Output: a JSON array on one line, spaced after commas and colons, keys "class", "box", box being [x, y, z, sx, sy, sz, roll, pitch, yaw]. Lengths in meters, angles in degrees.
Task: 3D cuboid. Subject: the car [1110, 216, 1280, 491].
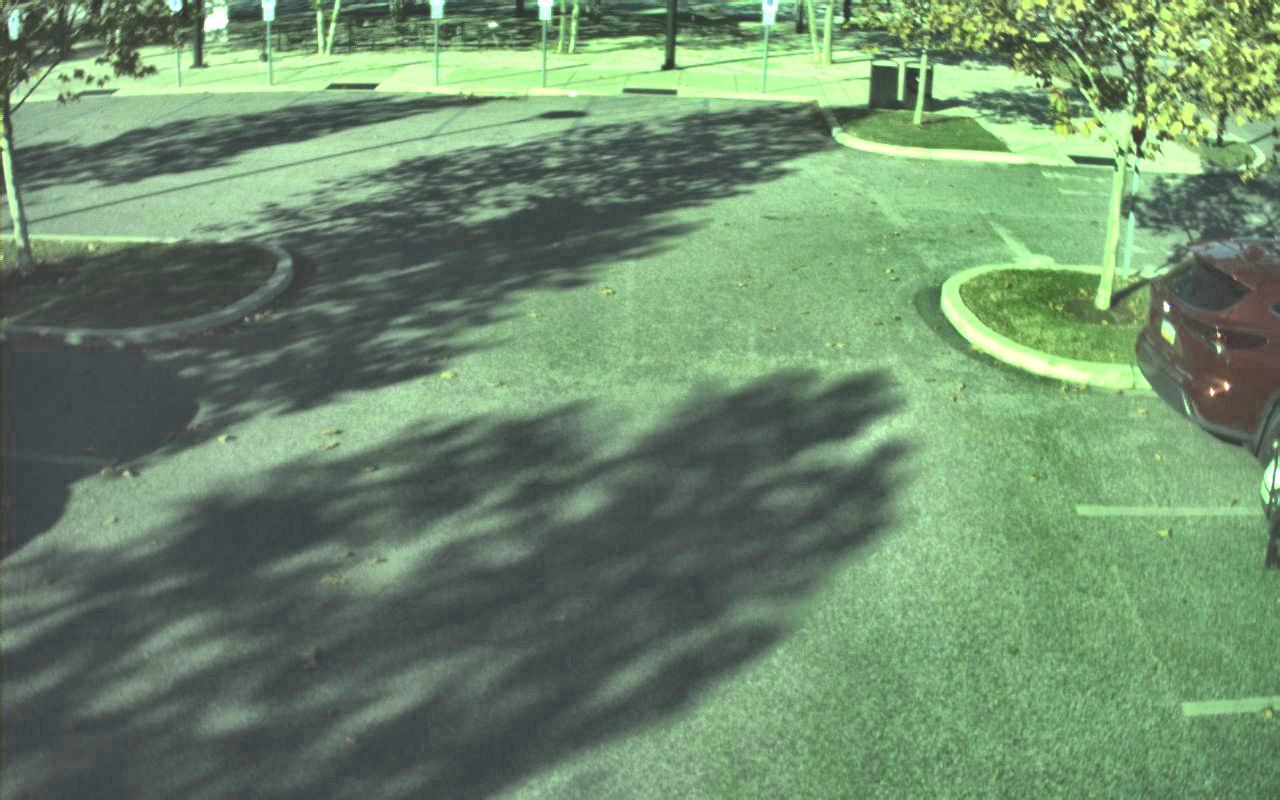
[{"class": "car", "box": [6.421, -0.478, 9.517, 4.447, 1.777, 1.995, -1, 16, -1]}]

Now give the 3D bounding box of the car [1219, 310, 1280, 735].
[{"class": "car", "box": [6.325, 0.526, 6.861, 4.506, 1.725, 2.010, 0, 16, 2]}]
